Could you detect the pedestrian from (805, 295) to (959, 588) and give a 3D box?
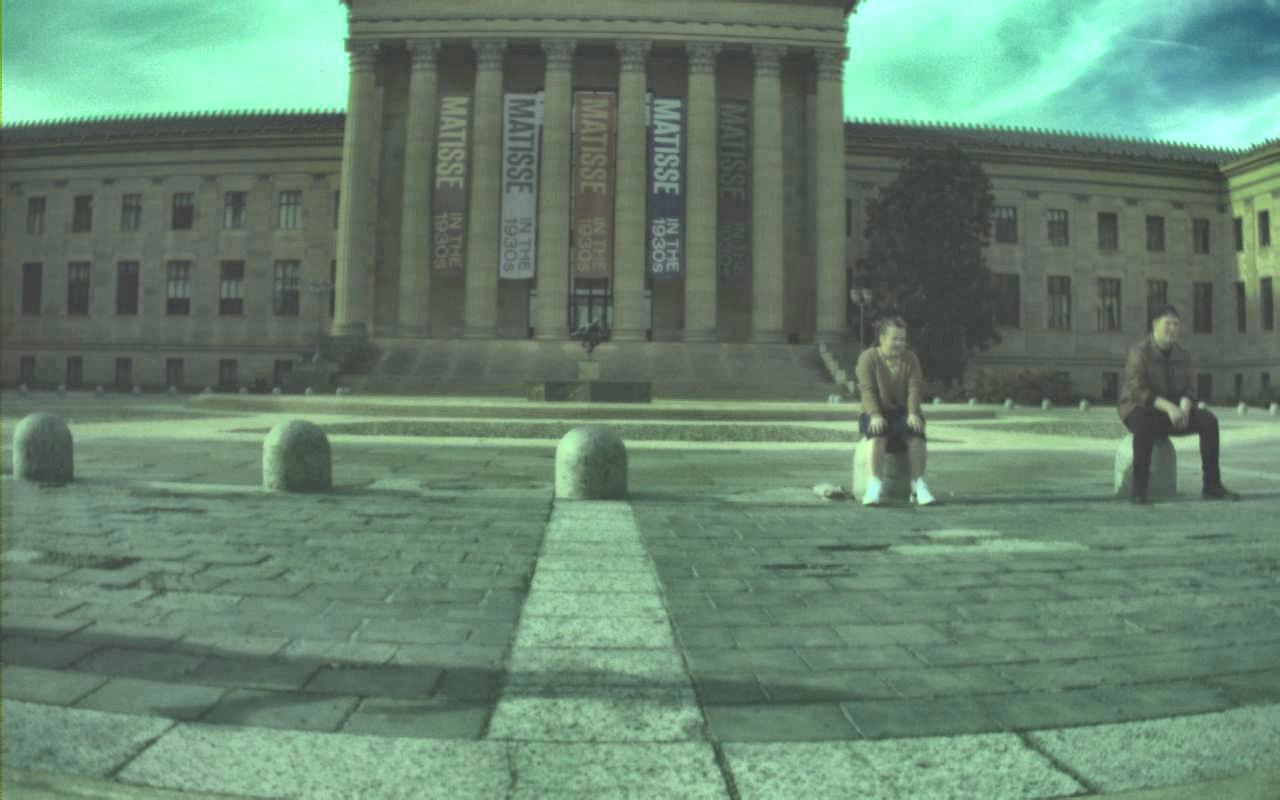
[{"bbox_3d":[1.561,0.243,7.903,0.830,1.763,0.823,1,0,21],"label":"pedestrian"}]

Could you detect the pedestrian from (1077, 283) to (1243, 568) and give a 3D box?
[{"bbox_3d":[3.498,0.172,7.890,0.844,1.804,0.853,0,0,-6],"label":"pedestrian"}]
